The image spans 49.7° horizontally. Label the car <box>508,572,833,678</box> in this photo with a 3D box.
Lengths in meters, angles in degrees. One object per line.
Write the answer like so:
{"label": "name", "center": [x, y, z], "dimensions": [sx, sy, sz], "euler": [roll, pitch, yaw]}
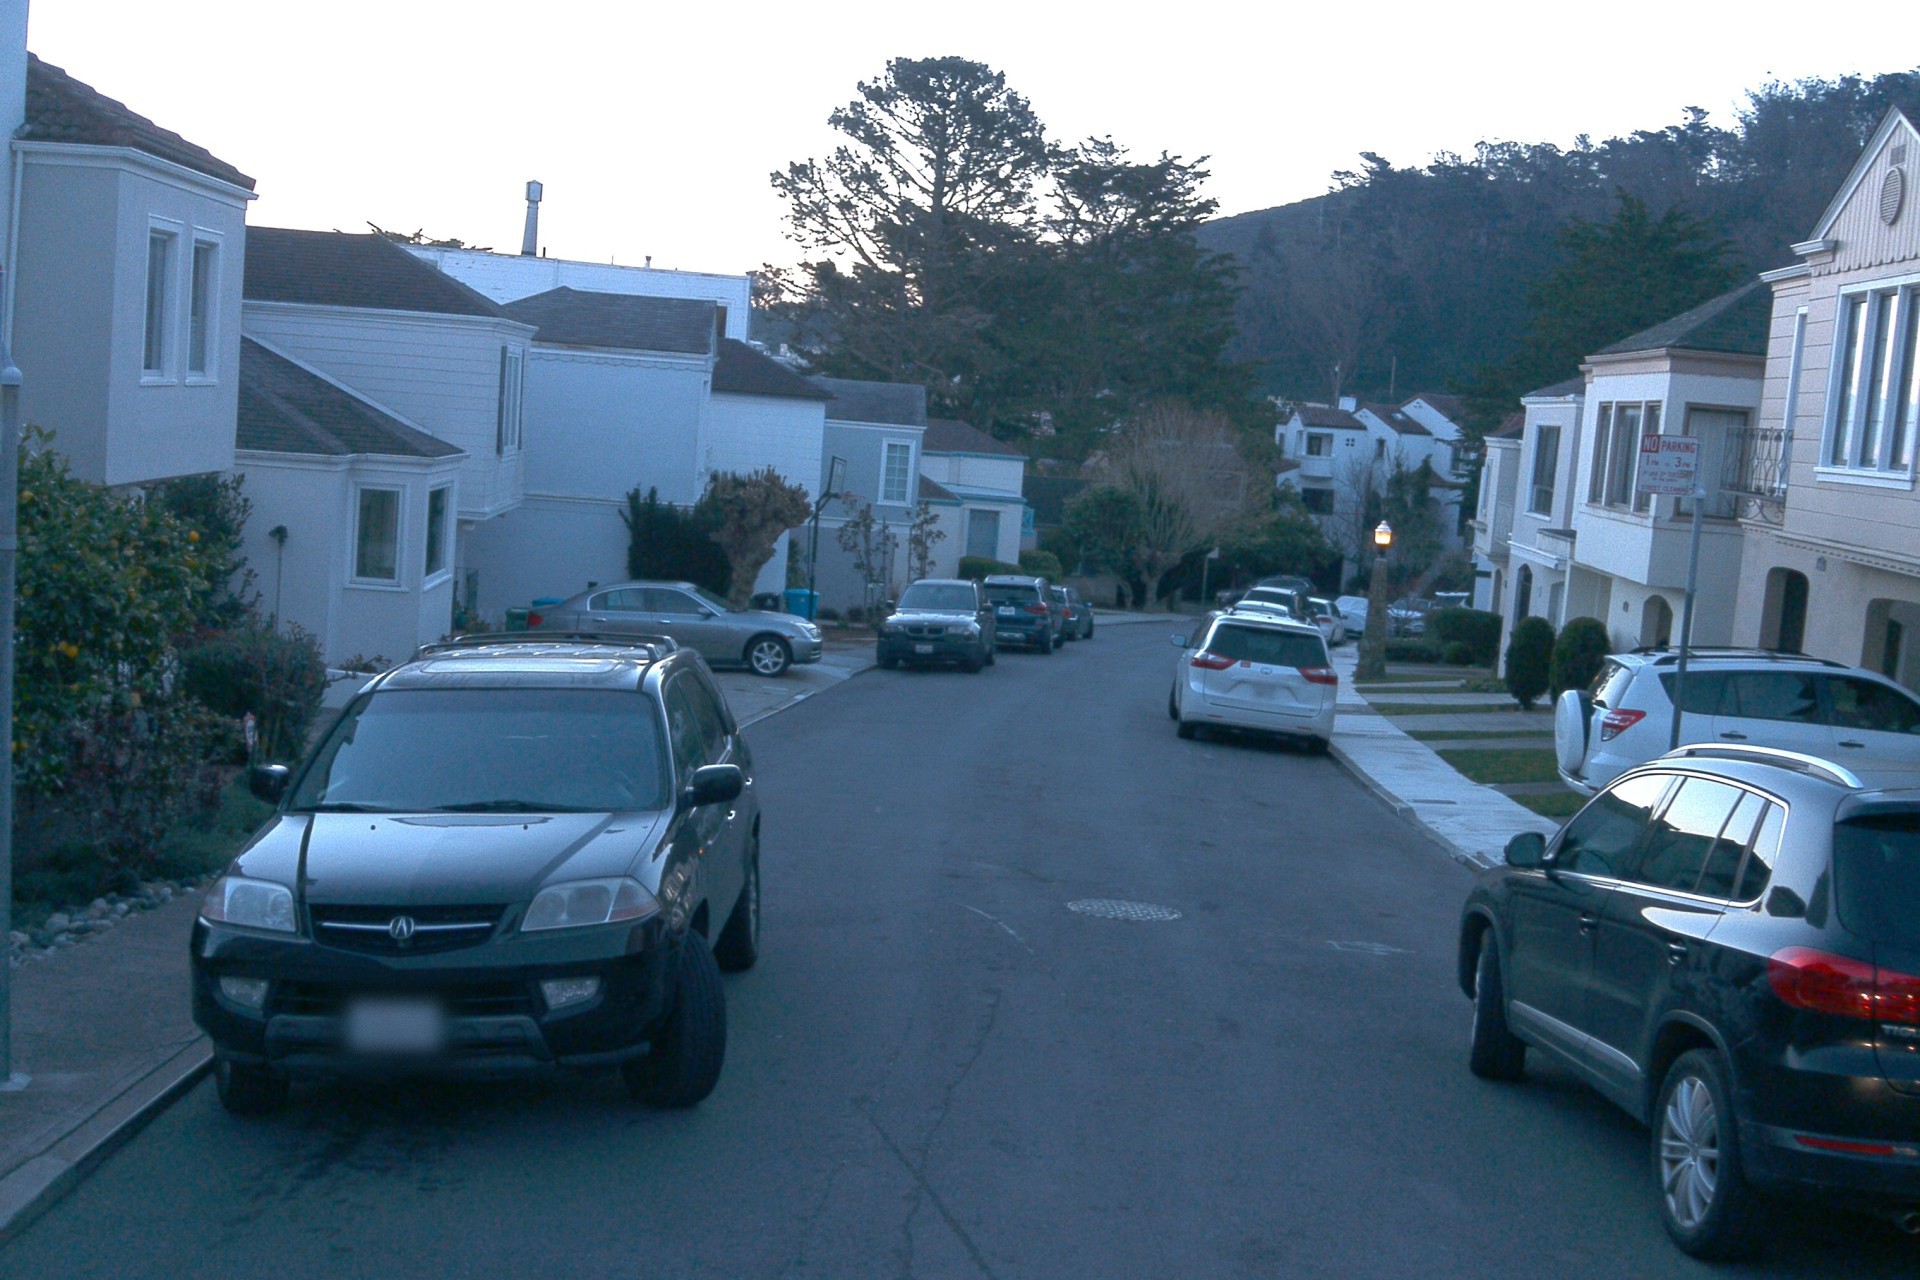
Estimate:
{"label": "car", "center": [-4.477, -0.235, 32.572], "dimensions": [4.767, 1.580, 1.990], "euler": [0, 0, 1]}

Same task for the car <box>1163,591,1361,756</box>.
{"label": "car", "center": [4.026, 0.416, 28.505], "dimensions": [2.373, 2.050, 5.081], "euler": [0, 0, 5]}

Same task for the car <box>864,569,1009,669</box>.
{"label": "car", "center": [-0.355, -0.371, 38.454], "dimensions": [2.091, 1.740, 4.535], "euler": [0, 0, 7]}

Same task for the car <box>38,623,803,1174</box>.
{"label": "car", "center": [-2.042, 0.879, 9.594], "dimensions": [2.325, 1.880, 4.867], "euler": [0, 0, -1]}
